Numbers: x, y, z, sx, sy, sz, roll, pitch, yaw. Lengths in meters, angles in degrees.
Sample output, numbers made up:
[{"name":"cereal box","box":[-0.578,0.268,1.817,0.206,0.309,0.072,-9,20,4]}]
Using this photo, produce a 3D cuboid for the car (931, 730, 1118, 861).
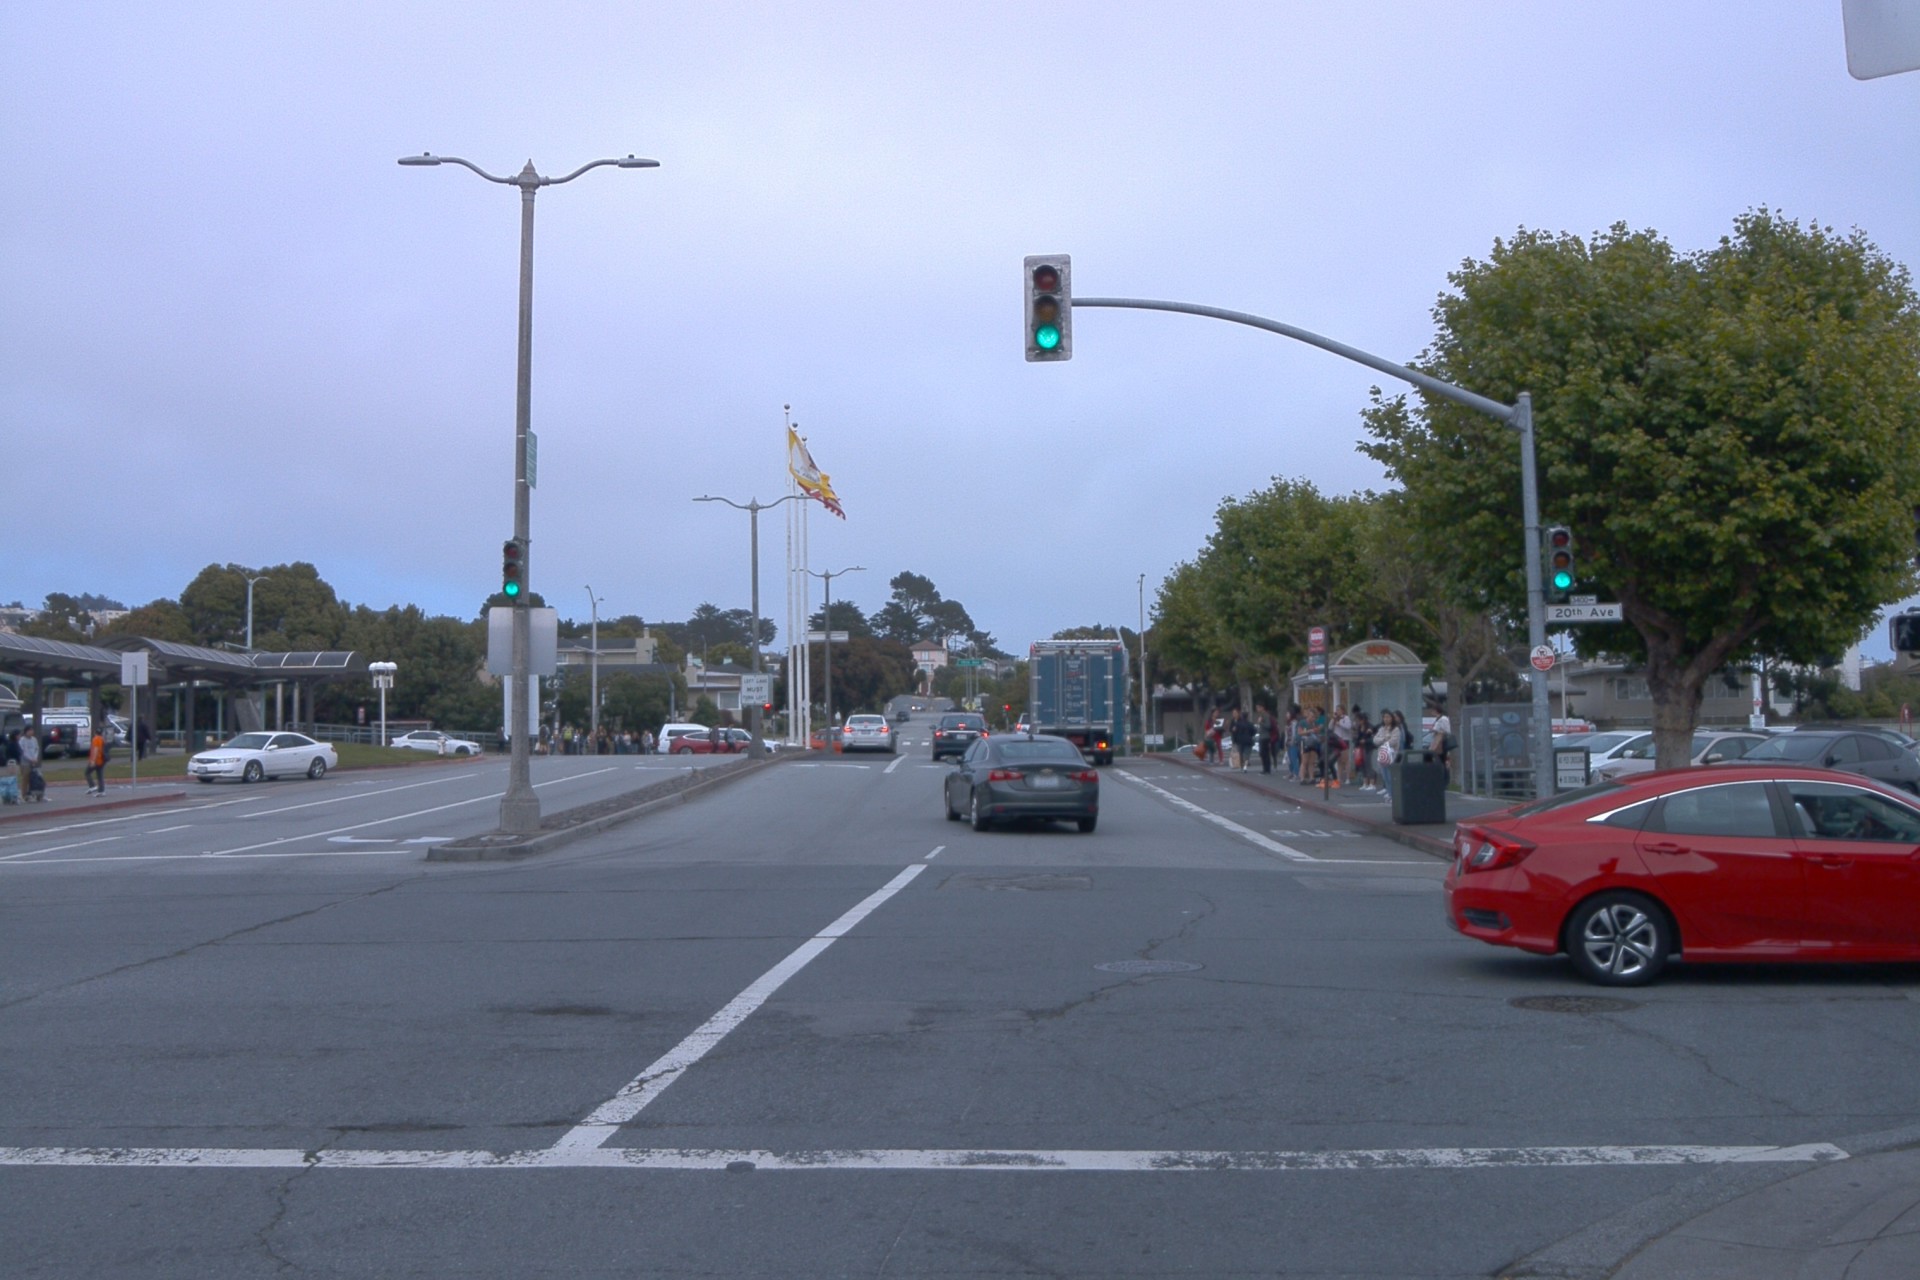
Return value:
[{"name":"car","box":[0.898,2.322,31.797,2.087,1.570,4.892,0,1,-8]}]

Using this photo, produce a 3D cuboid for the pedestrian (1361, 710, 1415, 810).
[{"name":"pedestrian","box":[7.496,2.093,36.001,0.604,1.700,0.727,-1,1,-23]}]
